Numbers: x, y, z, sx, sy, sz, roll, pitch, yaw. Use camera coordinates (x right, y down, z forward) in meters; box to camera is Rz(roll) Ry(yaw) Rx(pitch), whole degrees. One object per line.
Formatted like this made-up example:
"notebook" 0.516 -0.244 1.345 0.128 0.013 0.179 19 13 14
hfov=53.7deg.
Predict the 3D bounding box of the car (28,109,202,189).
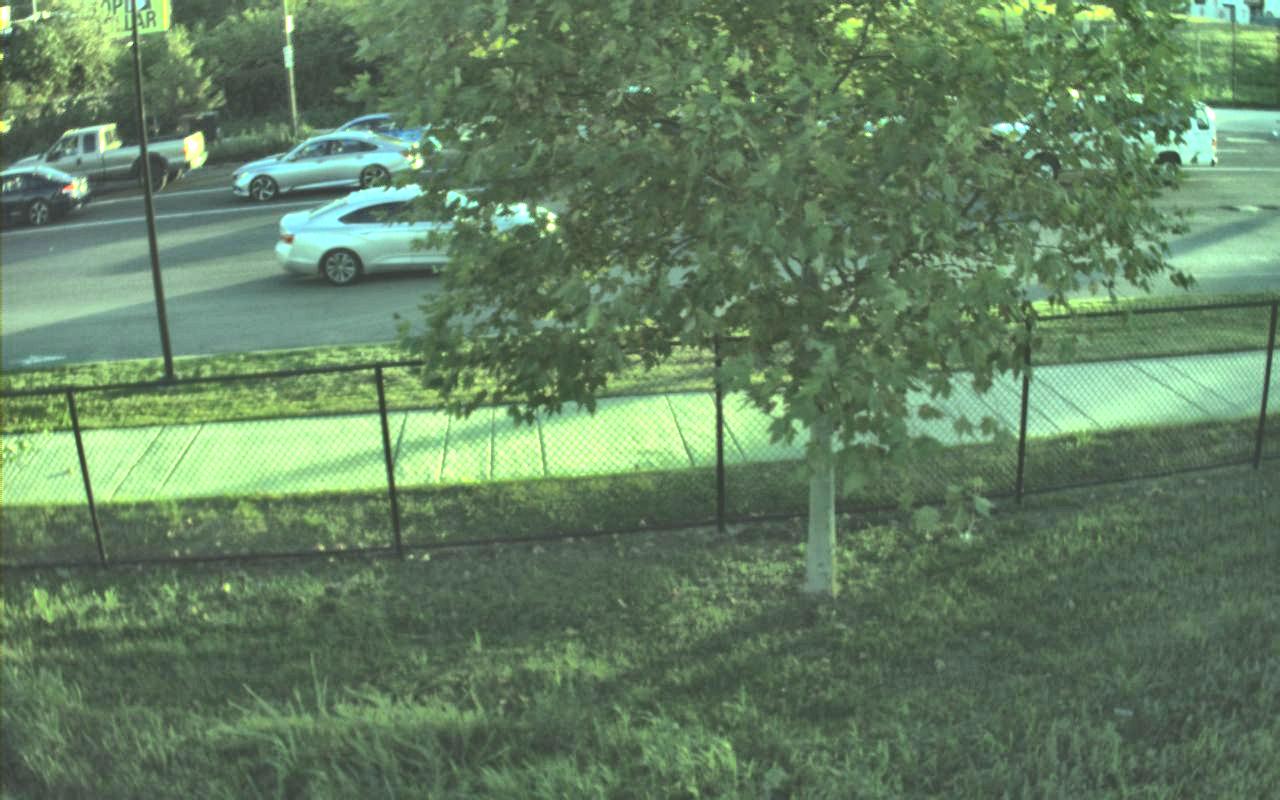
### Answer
"car" -15.086 -7.128 32.895 4.921 1.700 2.056 -3 16 -8

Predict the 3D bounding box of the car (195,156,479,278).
"car" -5.250 -3.218 21.414 4.786 1.619 2.002 -2 16 -5
